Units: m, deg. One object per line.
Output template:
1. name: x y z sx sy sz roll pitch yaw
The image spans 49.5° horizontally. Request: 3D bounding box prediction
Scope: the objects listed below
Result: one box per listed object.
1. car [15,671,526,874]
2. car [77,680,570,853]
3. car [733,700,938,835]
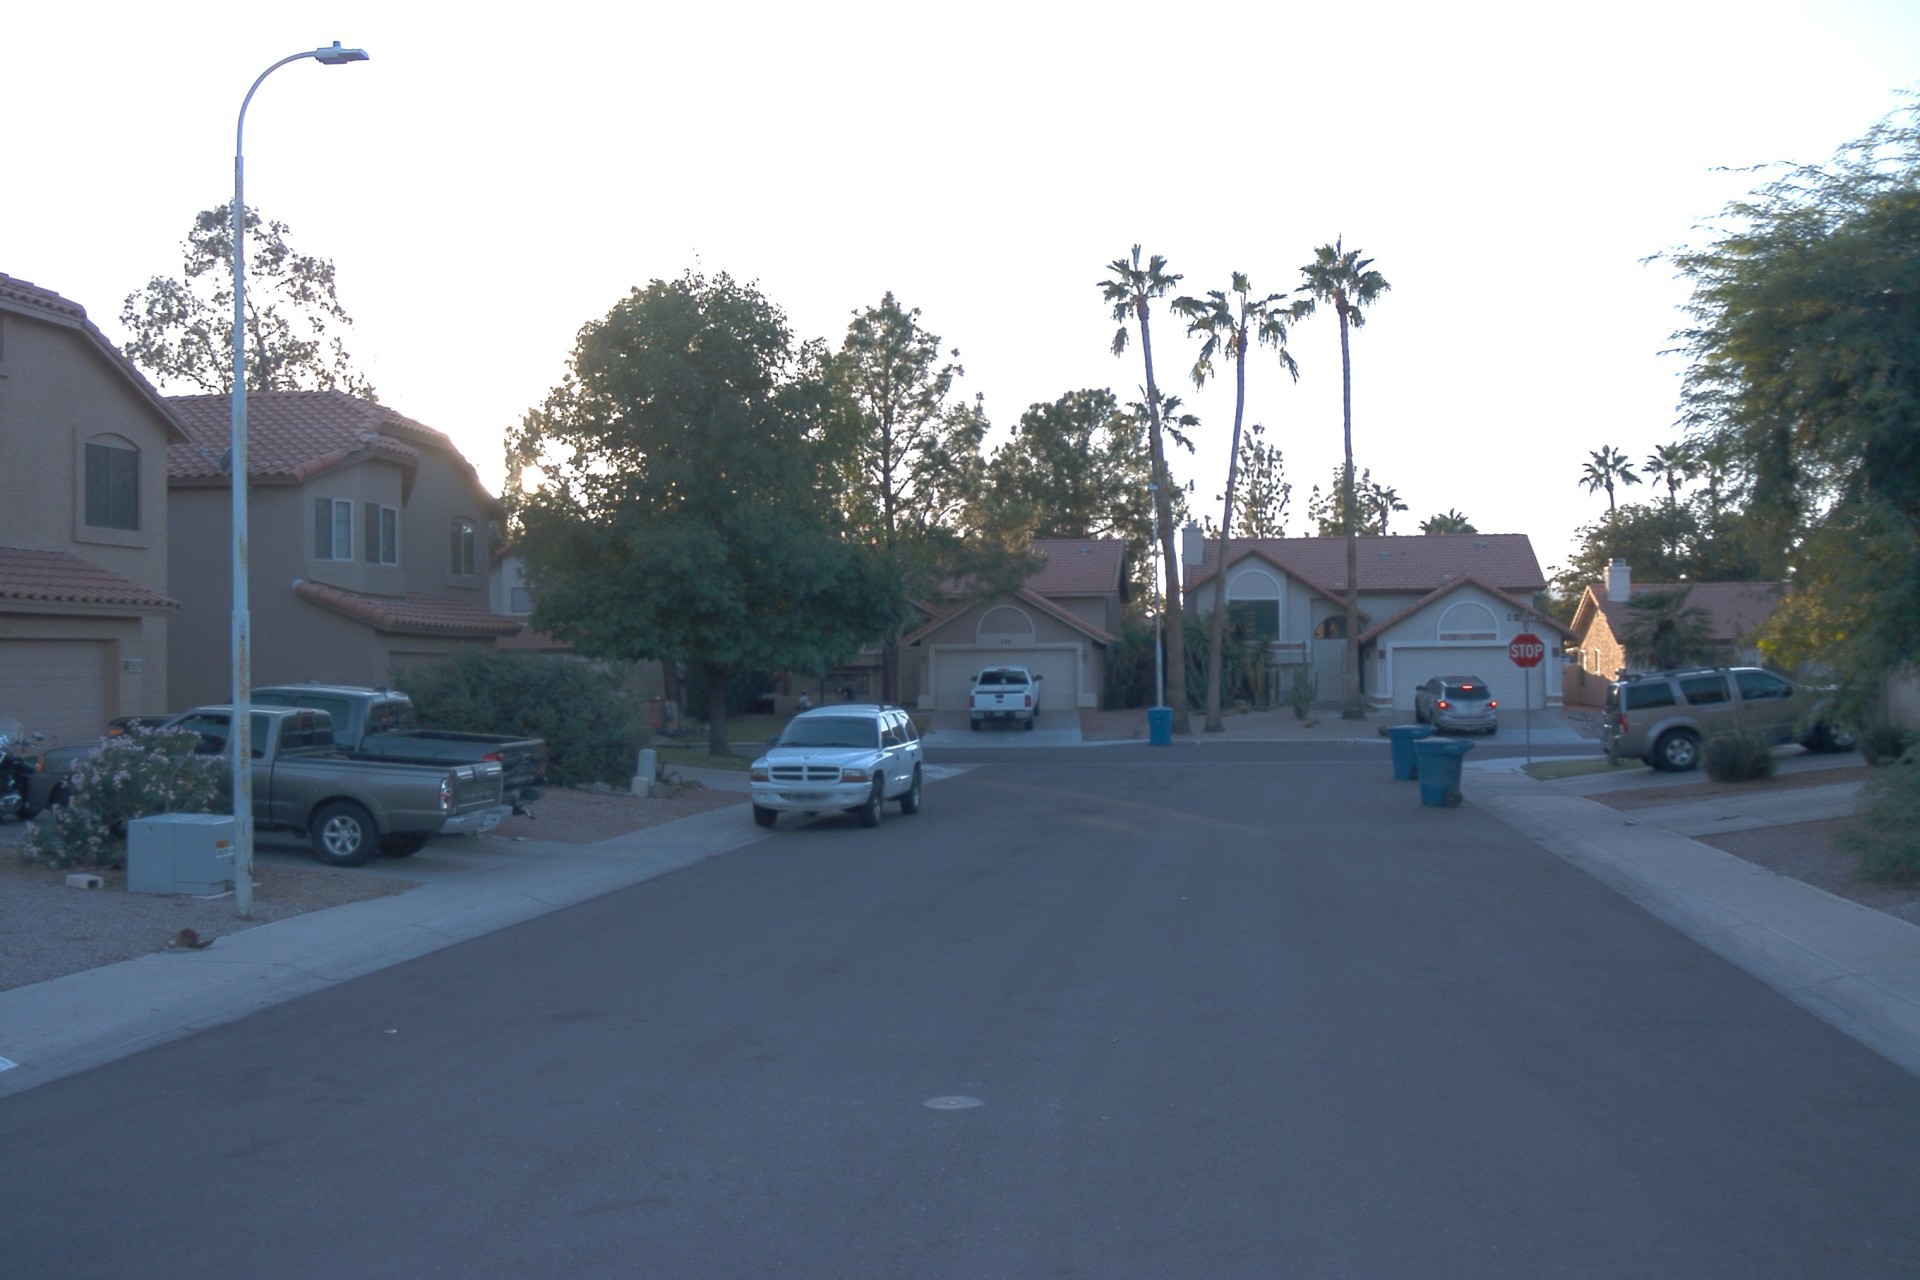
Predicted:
1. car: -7.580 1.423 23.112 5.030 2.130 1.968 0 -1 7
2. car: -7.804 1.517 25.794 5.410 2.030 2.214 0 -1 8
3. car: -1.777 1.855 31.542 2.045 1.830 4.911 0 -1 9
